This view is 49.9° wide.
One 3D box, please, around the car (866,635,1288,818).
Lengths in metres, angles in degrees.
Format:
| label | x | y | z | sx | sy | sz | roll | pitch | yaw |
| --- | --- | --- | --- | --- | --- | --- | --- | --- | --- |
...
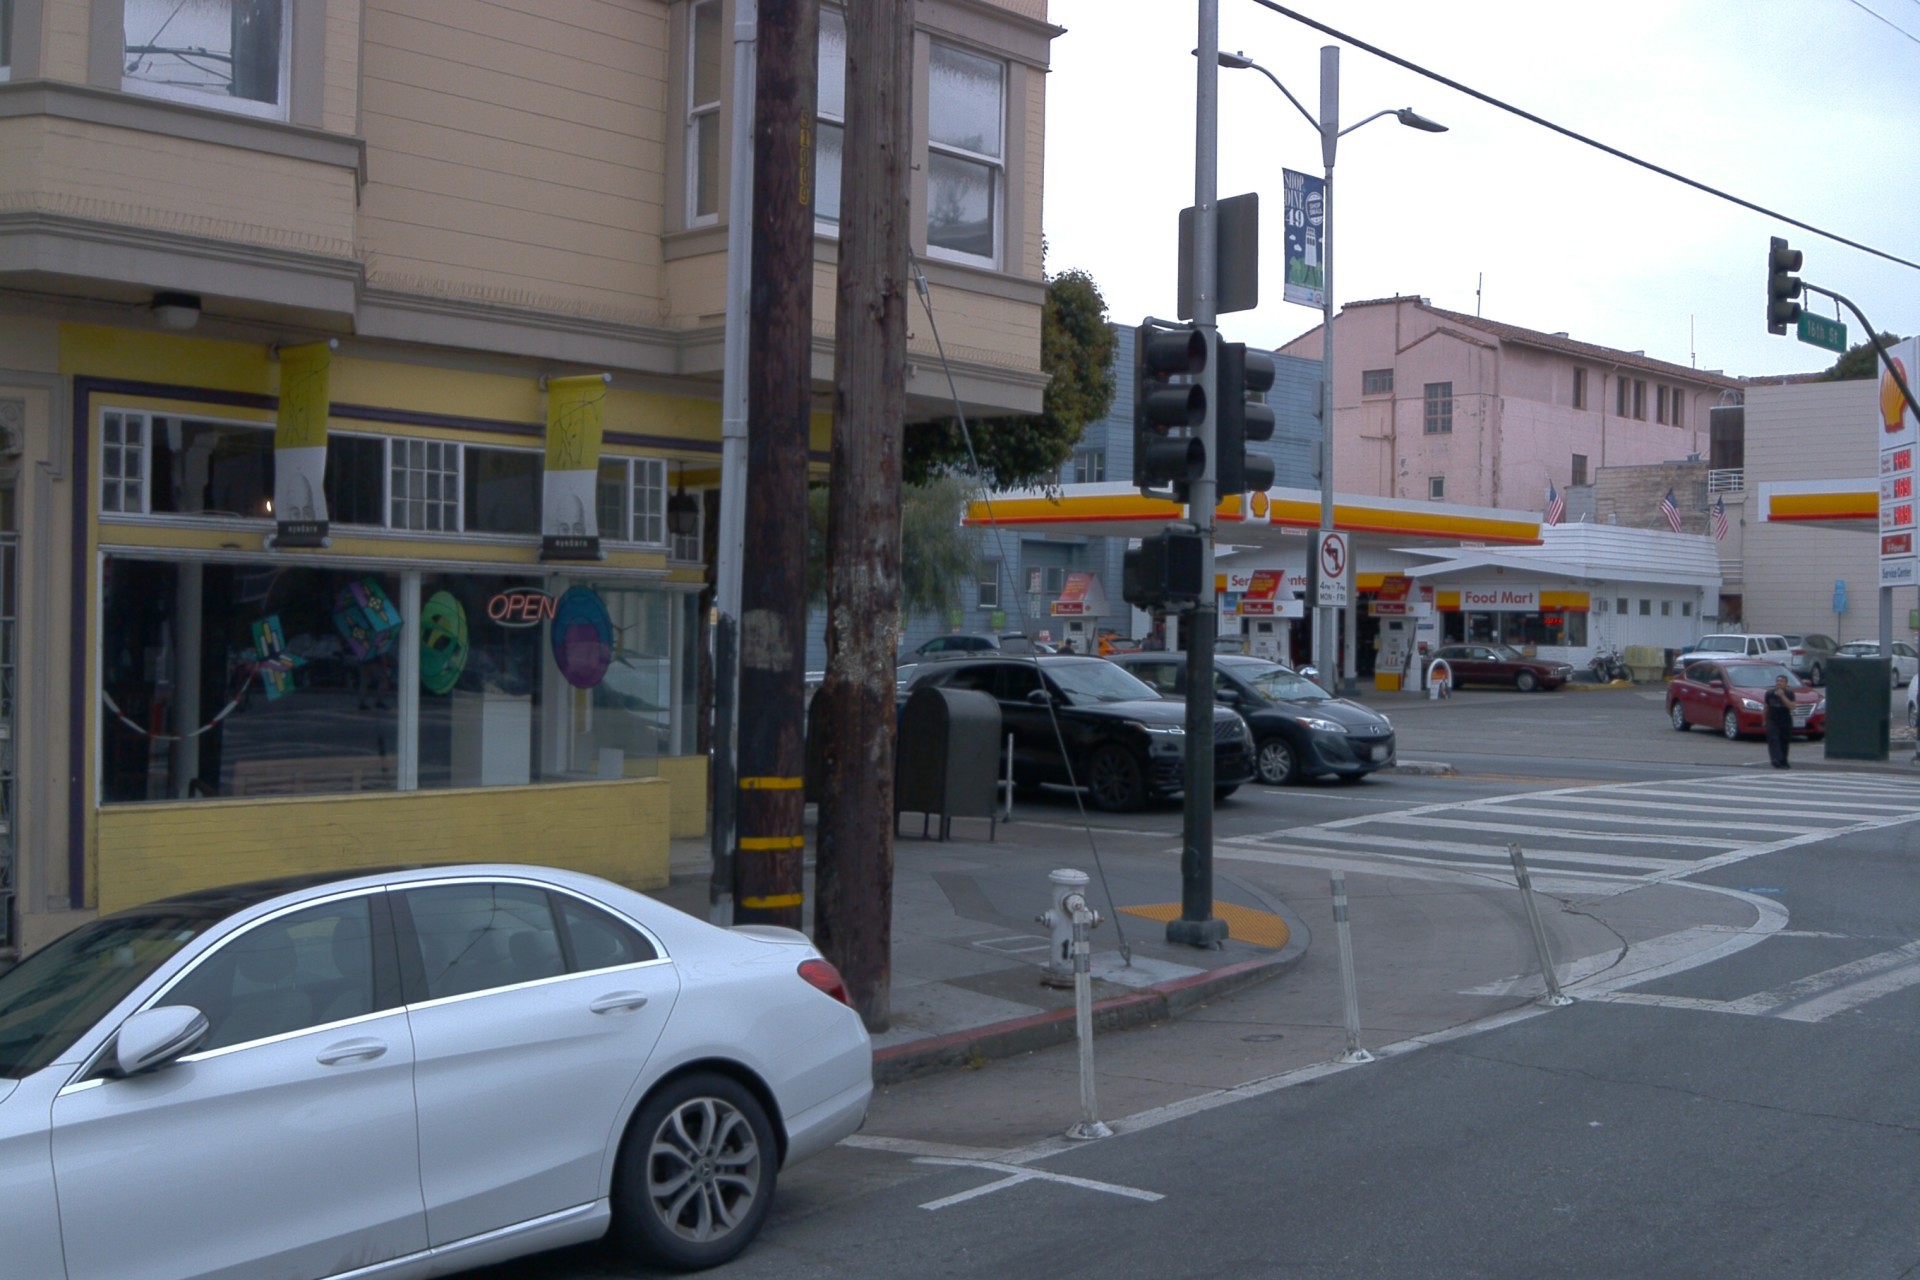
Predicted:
| label | x | y | z | sx | sy | sz | roll | pitch | yaw |
| --- | --- | --- | --- | --- | --- | --- | --- | --- | --- |
| car | 1.259 | 0.898 | 23.851 | 2.104 | 1.830 | 4.647 | -1 | 1 | -45 |

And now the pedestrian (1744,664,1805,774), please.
| label | x | y | z | sx | sy | sz | roll | pitch | yaw |
| --- | --- | --- | --- | --- | --- | --- | --- | --- | --- |
| pedestrian | 12.474 | 1.190 | 31.590 | 0.836 | 1.610 | 1.131 | 0 | 1 | 23 |

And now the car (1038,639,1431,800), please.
| label | x | y | z | sx | sy | sz | roll | pitch | yaw |
| --- | --- | --- | --- | --- | --- | --- | --- | --- | --- |
| car | 3.428 | 0.930 | 26.442 | 4.688 | 1.789 | 2.067 | 1 | 1 | 45 |
